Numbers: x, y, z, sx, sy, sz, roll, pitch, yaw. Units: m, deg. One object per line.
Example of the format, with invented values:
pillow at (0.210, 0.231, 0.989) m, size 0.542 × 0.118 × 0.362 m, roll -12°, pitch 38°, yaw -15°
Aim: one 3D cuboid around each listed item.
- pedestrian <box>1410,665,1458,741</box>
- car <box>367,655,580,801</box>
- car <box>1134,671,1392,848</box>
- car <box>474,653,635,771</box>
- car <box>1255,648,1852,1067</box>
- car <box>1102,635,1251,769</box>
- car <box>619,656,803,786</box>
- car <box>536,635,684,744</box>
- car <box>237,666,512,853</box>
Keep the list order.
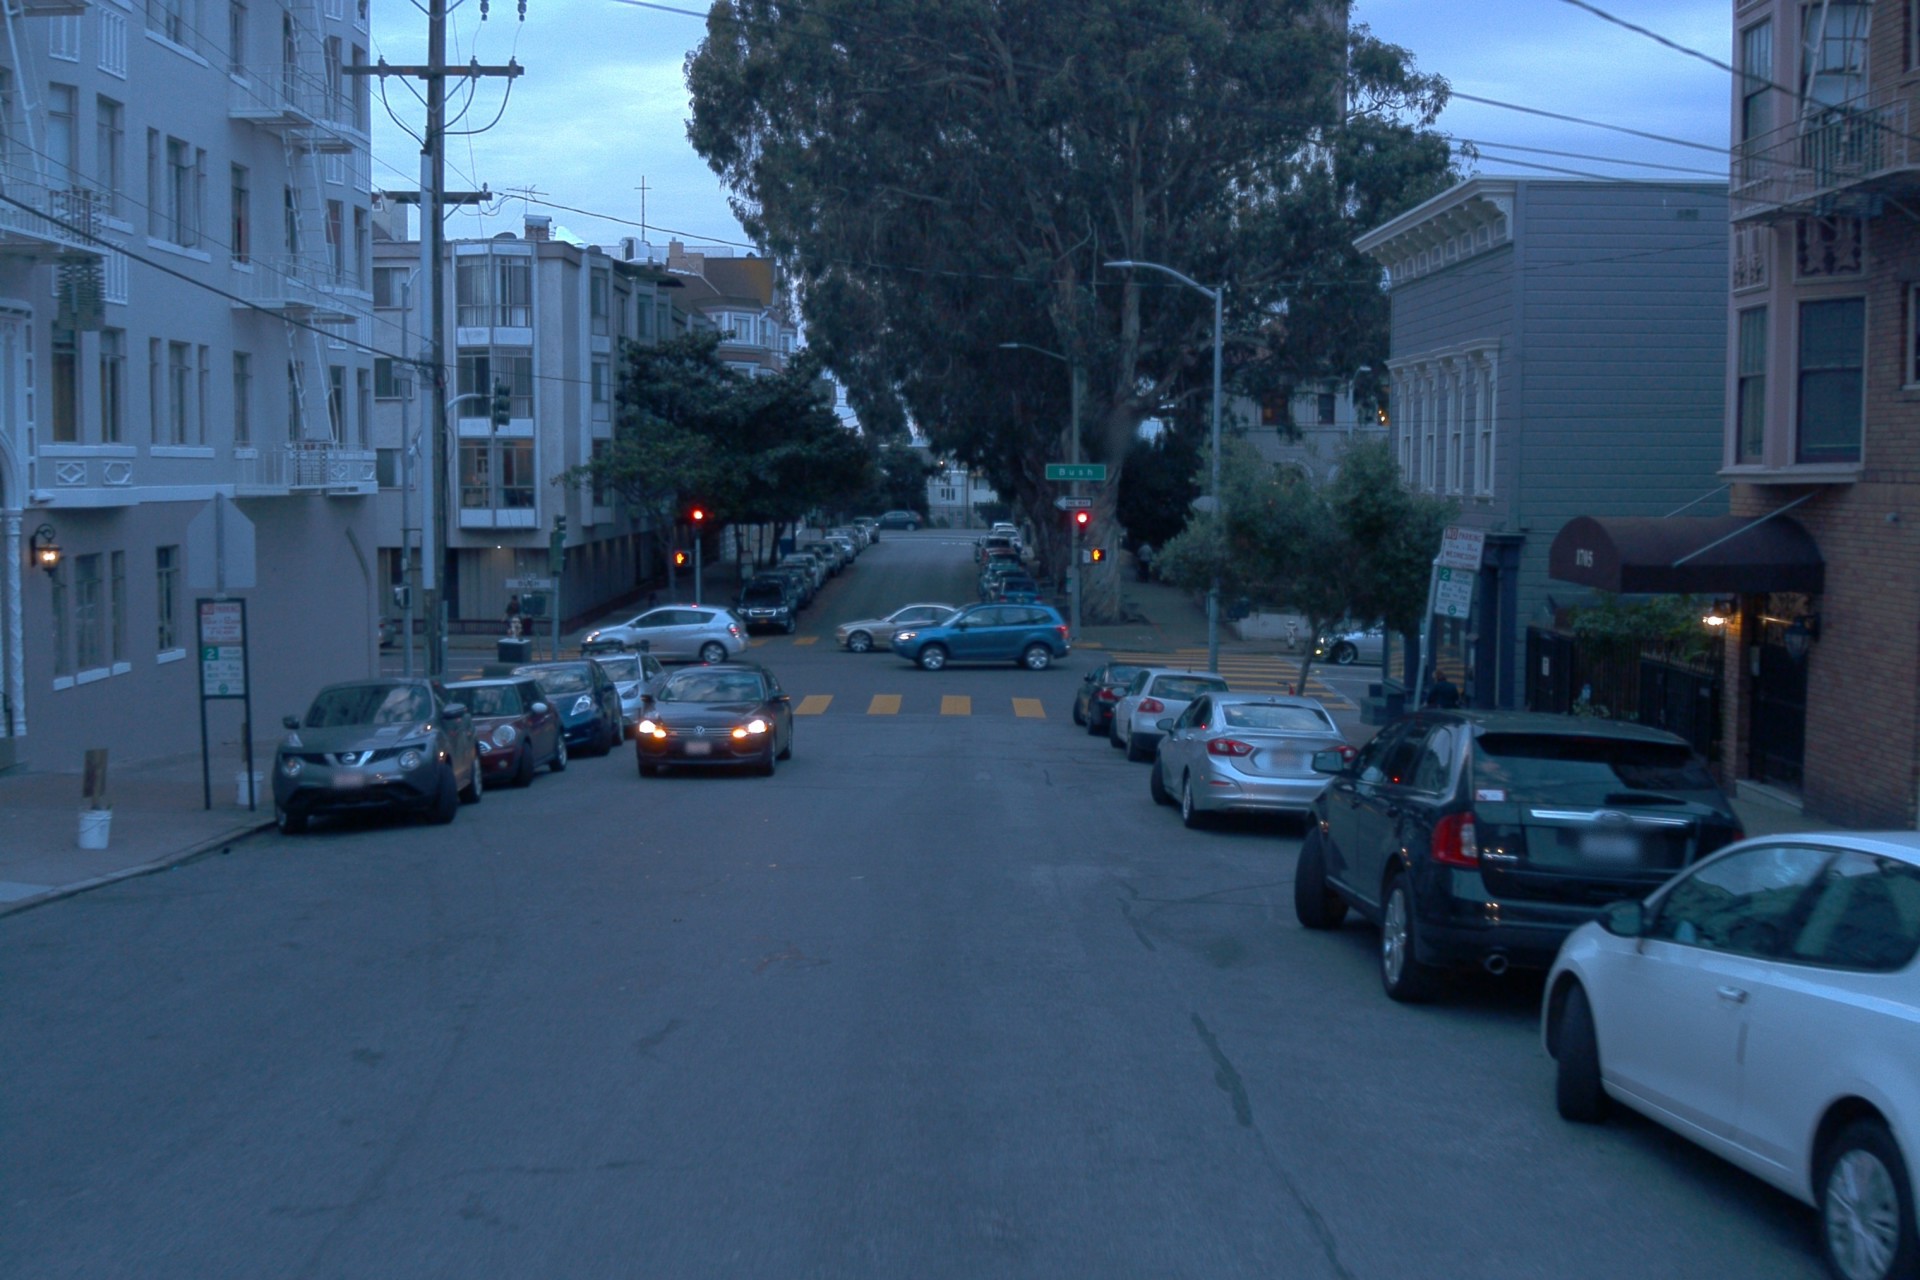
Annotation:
pedestrian at (8.333, 1.099, 36.167) m, size 0.777 × 1.290 × 0.721 m, roll 1°, pitch 1°, yaw 15°
car at (-6.348, 1.106, 27.244) m, size 1.900 × 1.680 × 3.706 m, roll 1°, pitch 1°, yaw 1°
car at (3.233, 1.230, 22.902) m, size 2.012 × 1.600 × 4.607 m, roll 1°, pitch 1°, yaw -2°
car at (-6.398, 1.098, 32.884) m, size 2.016 × 1.640 × 4.166 m, roll 1°, pitch 1°, yaw -4°
car at (3.464, 1.157, 13.196) m, size 2.390 × 2.070 × 4.749 m, roll 1°, pitch 1°, yaw 0°
car at (3.413, 0.938, 33.139) m, size 1.900 × 1.930 × 4.018 m, roll 1°, pitch 1°, yaw -1°
car at (-3.366, 1.055, 28.659) m, size 2.053 × 1.520 × 4.712 m, roll 1°, pitch 1°, yaw -1°
car at (-6.372, 0.858, 37.893) m, size 1.910 × 1.790 × 4.265 m, roll 1°, pitch 1°, yaw 1°
car at (-6.277, 1.220, 22.540) m, size 2.092 × 1.710 × 4.114 m, roll 1°, pitch 1°, yaw -4°
